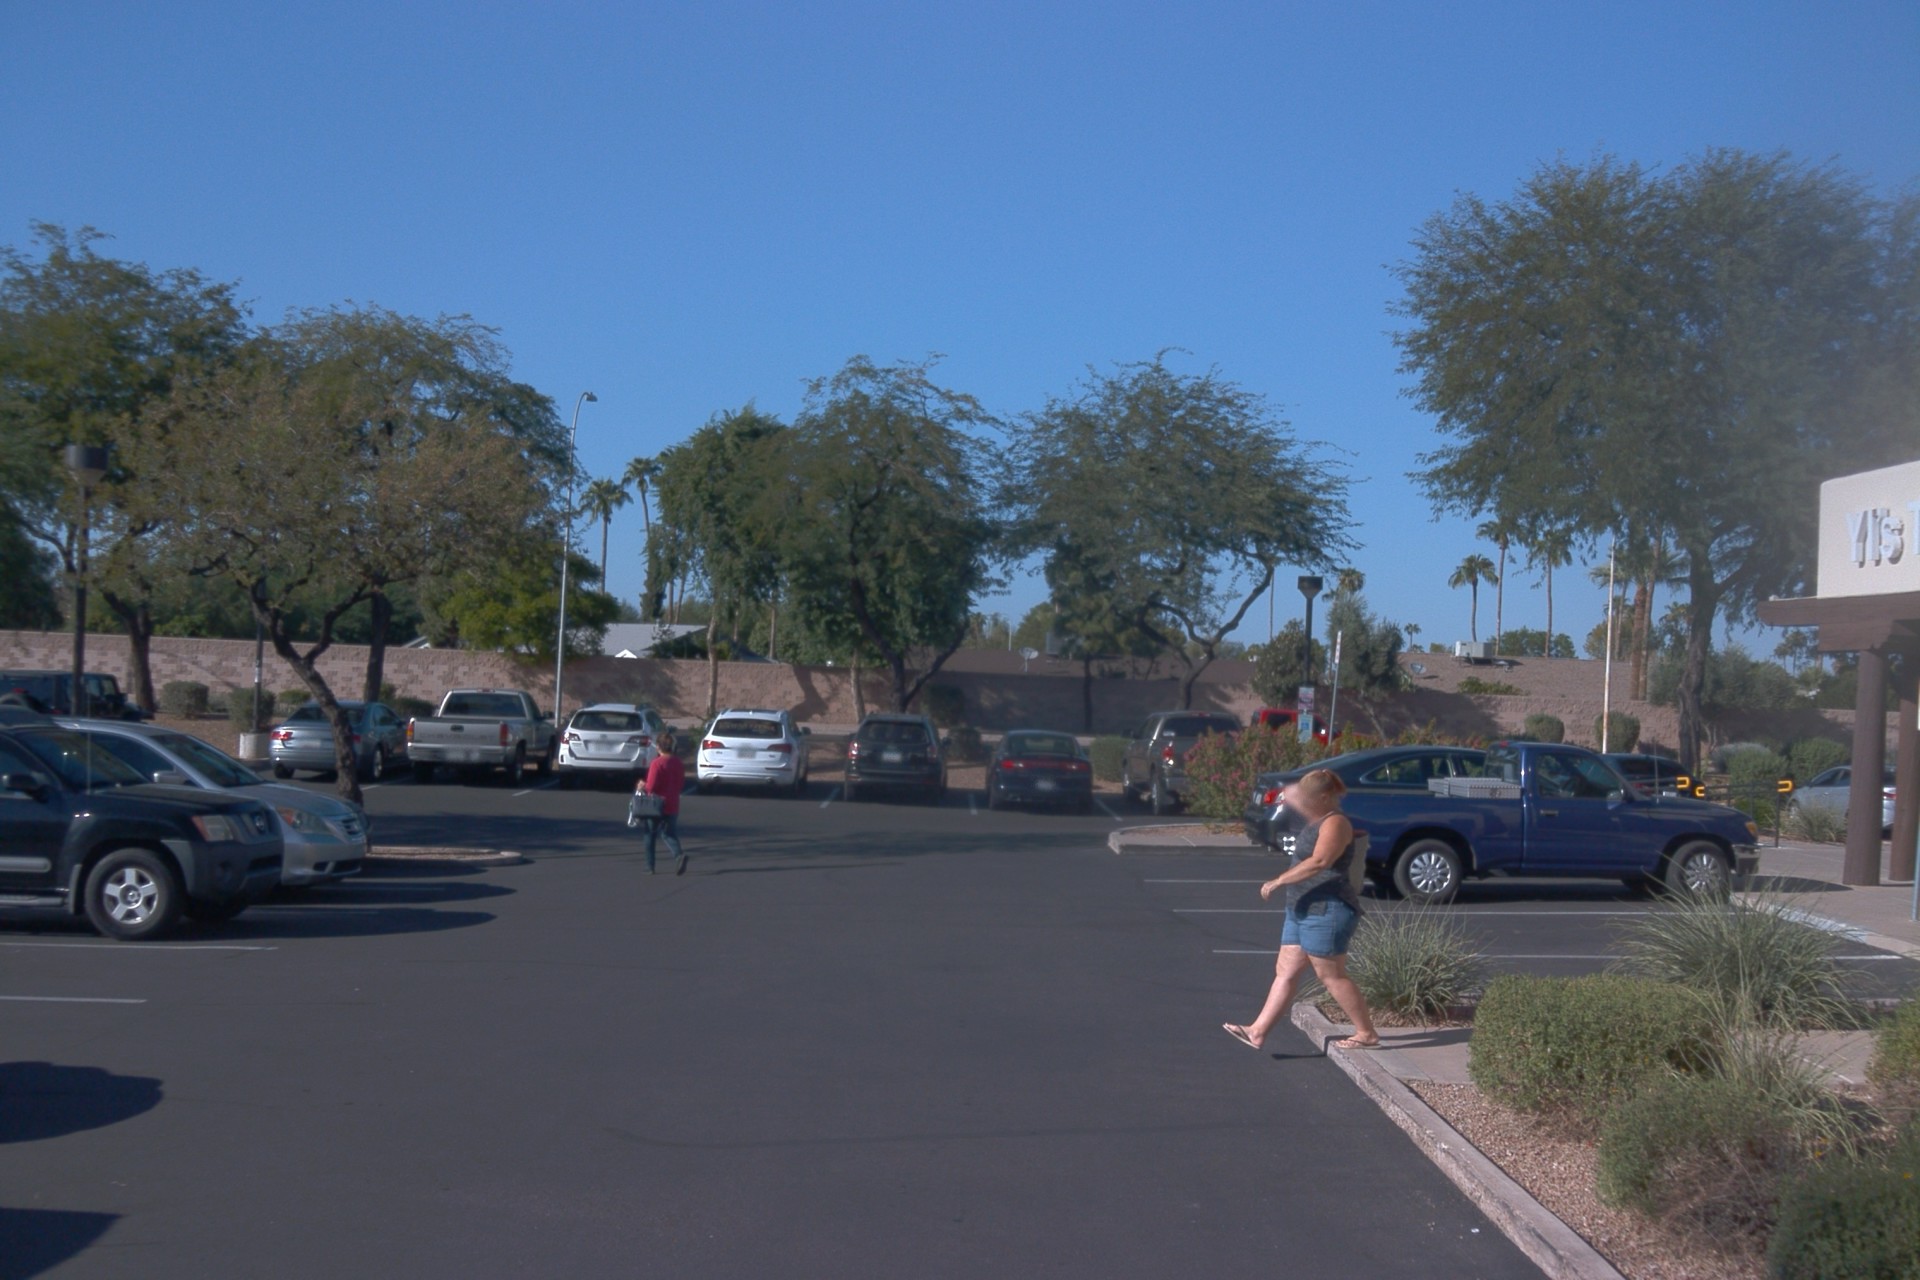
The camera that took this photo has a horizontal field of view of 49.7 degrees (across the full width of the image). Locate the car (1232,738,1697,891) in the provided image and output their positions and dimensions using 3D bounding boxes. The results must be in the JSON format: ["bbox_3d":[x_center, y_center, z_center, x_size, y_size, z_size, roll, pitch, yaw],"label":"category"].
[{"bbox_3d":[5.657,1.958,23.672,4.780,1.570,2.041,1,-1,-2],"label":"car"}]

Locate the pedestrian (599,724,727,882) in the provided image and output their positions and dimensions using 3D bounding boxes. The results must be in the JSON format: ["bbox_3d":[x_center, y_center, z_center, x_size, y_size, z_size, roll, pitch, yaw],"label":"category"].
[{"bbox_3d":[-3.312,1.788,23.137,0.982,1.680,1.039,1,-1,-41],"label":"pedestrian"}]

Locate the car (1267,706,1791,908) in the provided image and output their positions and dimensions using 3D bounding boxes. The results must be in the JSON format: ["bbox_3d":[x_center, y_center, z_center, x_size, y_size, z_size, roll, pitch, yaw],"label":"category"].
[{"bbox_3d":[5.621,1.636,20.929,4.685,1.860,2.091,1,-1,-2],"label":"car"}]

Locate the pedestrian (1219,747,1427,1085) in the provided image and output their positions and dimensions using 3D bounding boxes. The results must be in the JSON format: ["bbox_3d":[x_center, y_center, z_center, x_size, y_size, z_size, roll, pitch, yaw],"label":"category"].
[{"bbox_3d":[1.984,1.485,11.450,0.962,1.750,0.926,1,-1,0],"label":"pedestrian"}]
